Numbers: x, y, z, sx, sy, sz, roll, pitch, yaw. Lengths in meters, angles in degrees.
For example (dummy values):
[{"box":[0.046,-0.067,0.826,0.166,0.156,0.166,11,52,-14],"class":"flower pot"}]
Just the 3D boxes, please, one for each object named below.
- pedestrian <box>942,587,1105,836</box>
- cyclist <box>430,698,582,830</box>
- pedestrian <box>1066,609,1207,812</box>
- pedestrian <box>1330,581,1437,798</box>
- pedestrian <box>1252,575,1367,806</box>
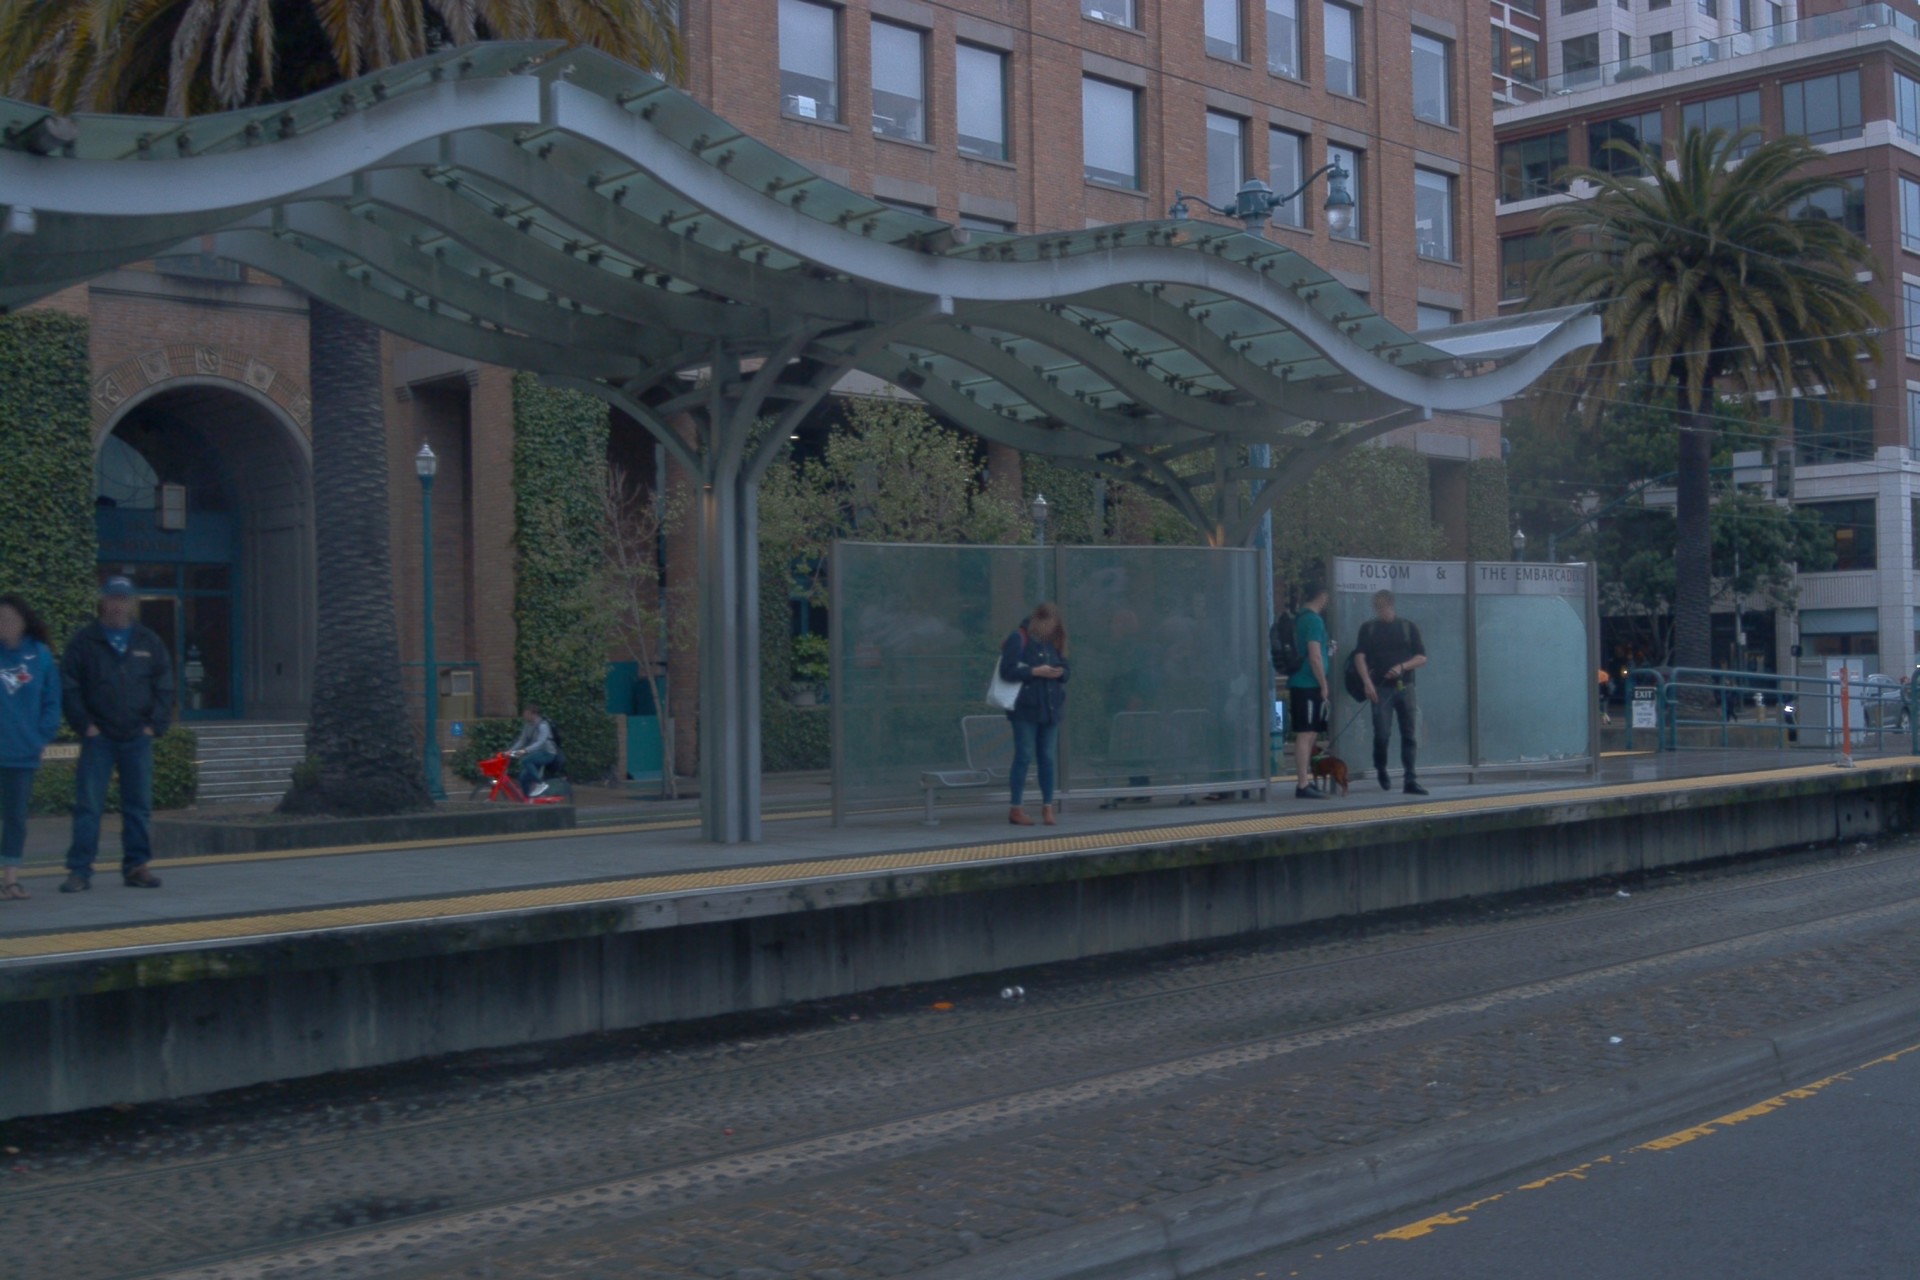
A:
[{"box":[0.468,0.506,15.372,0.846,1.770,0.860,0,0,-43],"class":"pedestrian"},{"box":[-6.825,1.833,31.325,2.078,1.870,0.874,0,0,-43],"class":"cyclist"},{"box":[1.495,0.584,17.690,0.902,1.670,0.825,0,0,-26],"class":"pedestrian"},{"box":[3.807,0.432,18.658,0.886,1.890,0.903,0,0,15],"class":"pedestrian"},{"box":[3.029,0.428,18.099,0.835,1.960,0.891,0,0,-3],"class":"pedestrian"}]
